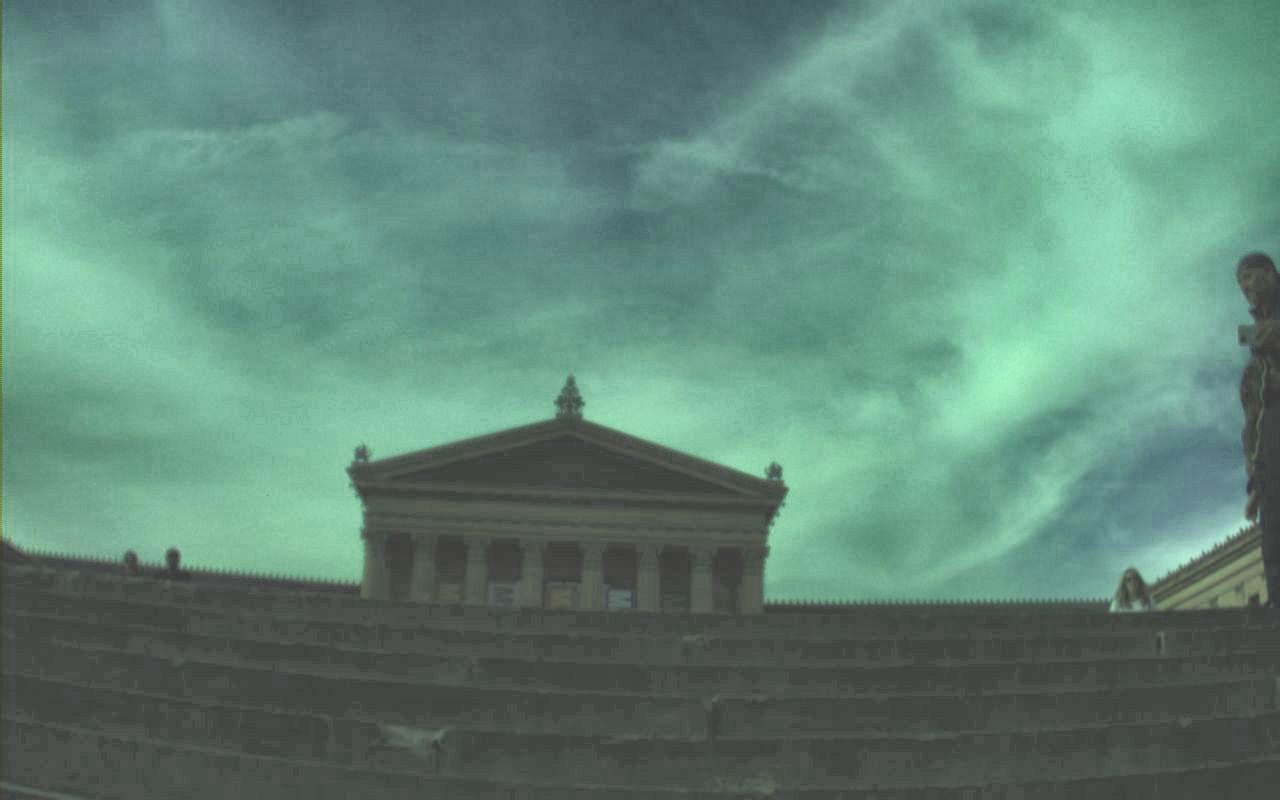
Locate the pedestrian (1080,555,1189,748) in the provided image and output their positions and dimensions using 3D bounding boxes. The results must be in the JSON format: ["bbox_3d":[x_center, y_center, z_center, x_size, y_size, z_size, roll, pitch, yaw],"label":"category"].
[{"bbox_3d":[4.739,2.435,11.128,0.810,1.730,0.834,0,0,9],"label":"pedestrian"}]

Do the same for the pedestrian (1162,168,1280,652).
[{"bbox_3d":[2.582,0.049,4.643,0.816,1.865,0.806,1,0,26],"label":"pedestrian"}]

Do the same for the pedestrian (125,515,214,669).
[{"bbox_3d":[-5.757,2.357,14.225,0.745,1.738,0.761,1,0,29],"label":"pedestrian"}]
